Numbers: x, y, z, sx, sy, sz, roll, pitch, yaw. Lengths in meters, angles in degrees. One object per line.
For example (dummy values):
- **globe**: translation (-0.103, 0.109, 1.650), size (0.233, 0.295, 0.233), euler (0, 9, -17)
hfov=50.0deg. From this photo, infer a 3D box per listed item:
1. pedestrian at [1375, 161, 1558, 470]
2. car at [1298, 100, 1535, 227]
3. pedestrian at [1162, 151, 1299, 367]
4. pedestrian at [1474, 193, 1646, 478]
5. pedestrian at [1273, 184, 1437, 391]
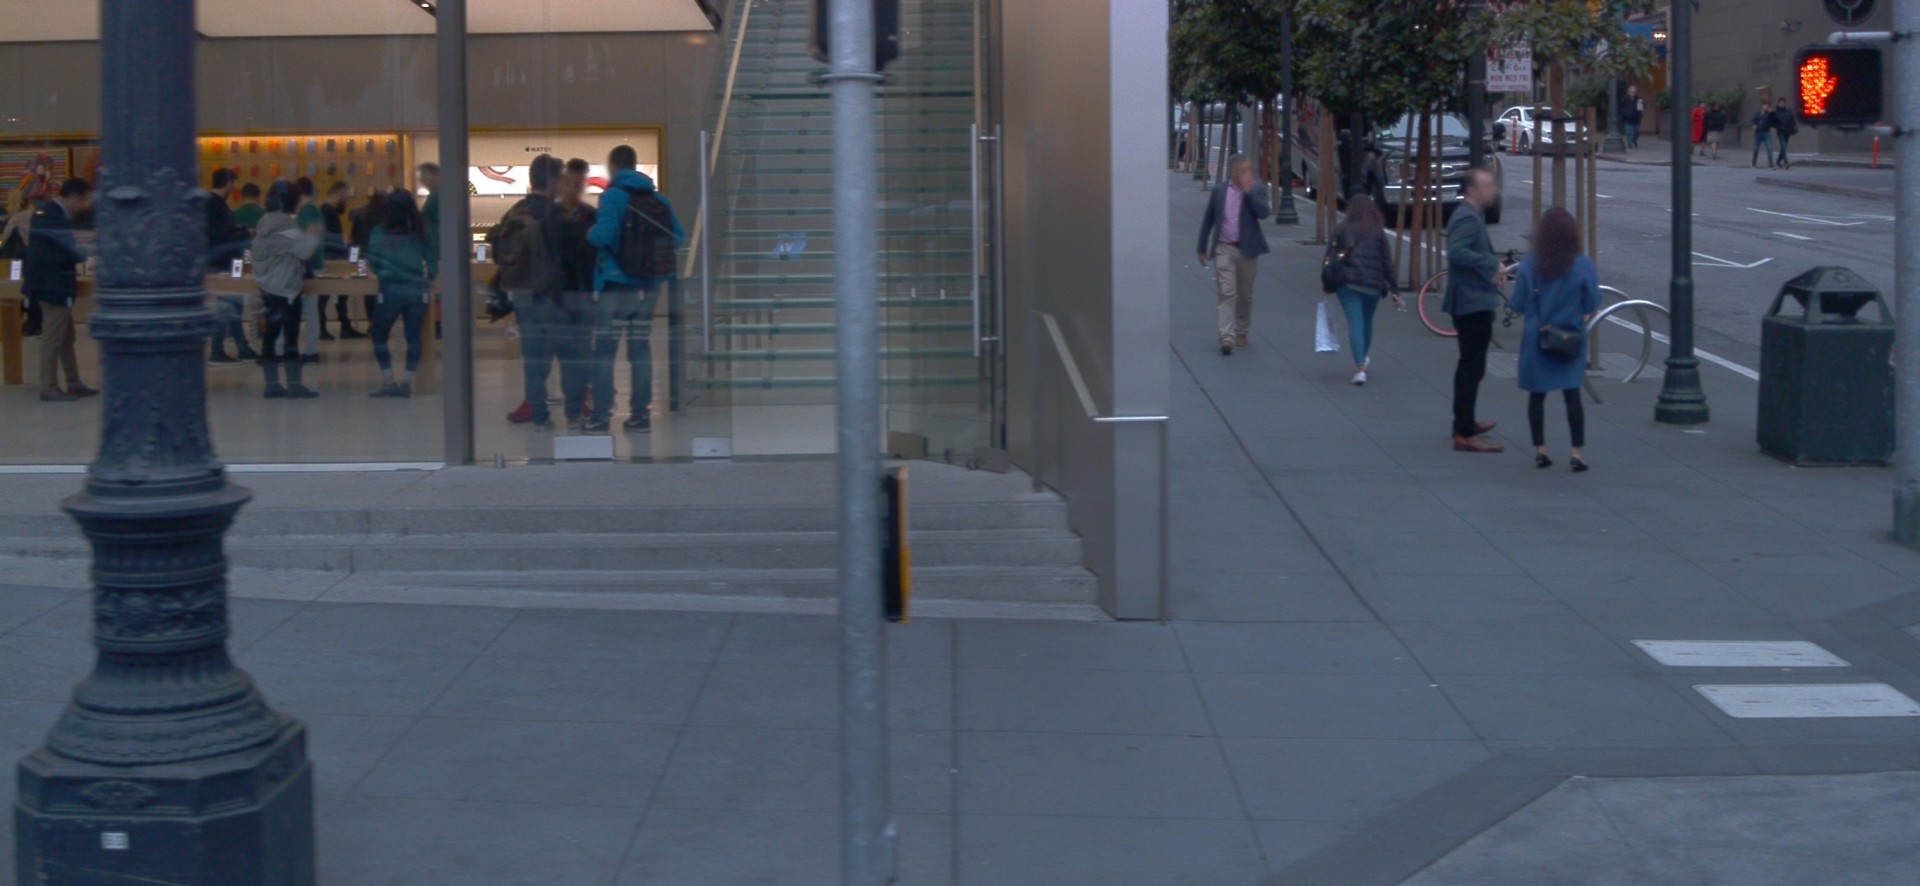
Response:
- **pedestrian**: translation (3.374, -0.880, 13.671), size (0.933, 1.956, 0.991), euler (1, 3, 30)
- **car**: translation (8.026, -4.961, 37.086), size (2.913, 2.048, 6.867), euler (0, 6, 1)
- **pedestrian**: translation (2.411, -1.672, 18.506), size (1.070, 1.876, 1.135), euler (0, 3, -1)
- **pedestrian**: translation (3.801, -0.712, 13.106), size (0.948, 1.746, 0.807), euler (0, 2, 8)
- **pedestrian**: translation (3.207, -1.294, 16.836), size (1.171, 1.636, 1.106), euler (0, 3, 2)
